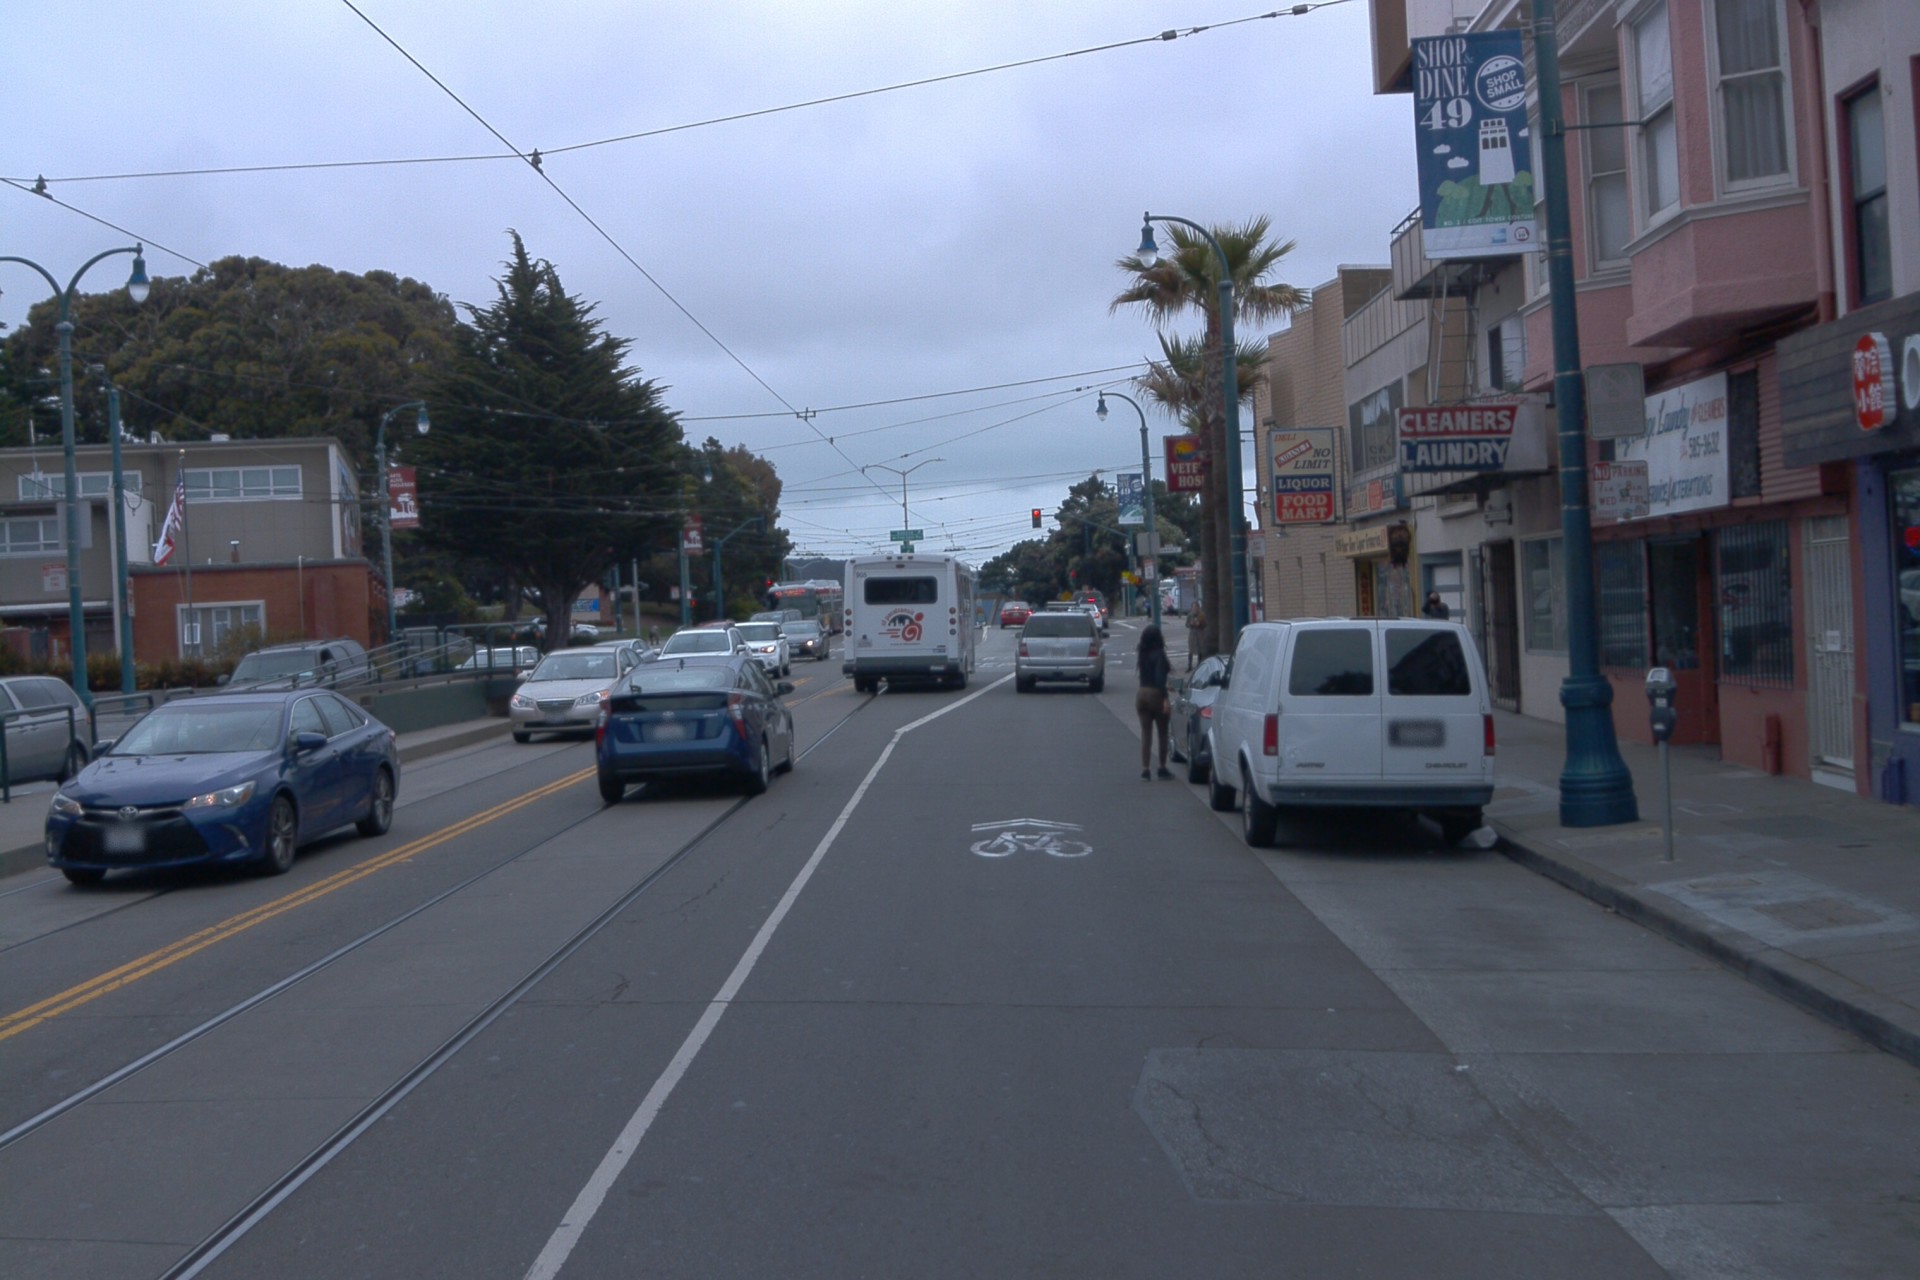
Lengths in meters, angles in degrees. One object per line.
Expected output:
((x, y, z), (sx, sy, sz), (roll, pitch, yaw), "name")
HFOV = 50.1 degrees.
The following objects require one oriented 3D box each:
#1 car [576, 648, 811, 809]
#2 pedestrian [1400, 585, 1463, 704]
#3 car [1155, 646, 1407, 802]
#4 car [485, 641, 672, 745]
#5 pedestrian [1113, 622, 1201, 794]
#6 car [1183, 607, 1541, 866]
((-2.856, 0.908, 22.964), (1.972, 1.540, 4.259), (0, 1, 1), "car")
((7.283, 0.064, 31.761), (0.806, 1.820, 0.856), (0, 1, 3), "pedestrian")
((3.613, 0.896, 24.126), (2.201, 1.540, 4.889), (0, 1, 0), "car")
((-6.229, 0.824, 34.143), (2.032, 1.540, 4.441), (0, 1, 4), "car")
((2.204, 0.737, 22.936), (0.853, 1.860, 0.976), (0, 1, 13), "pedestrian")
((3.372, 0.711, 18.351), (2.315, 2.000, 4.859), (0, 1, 1), "car")
